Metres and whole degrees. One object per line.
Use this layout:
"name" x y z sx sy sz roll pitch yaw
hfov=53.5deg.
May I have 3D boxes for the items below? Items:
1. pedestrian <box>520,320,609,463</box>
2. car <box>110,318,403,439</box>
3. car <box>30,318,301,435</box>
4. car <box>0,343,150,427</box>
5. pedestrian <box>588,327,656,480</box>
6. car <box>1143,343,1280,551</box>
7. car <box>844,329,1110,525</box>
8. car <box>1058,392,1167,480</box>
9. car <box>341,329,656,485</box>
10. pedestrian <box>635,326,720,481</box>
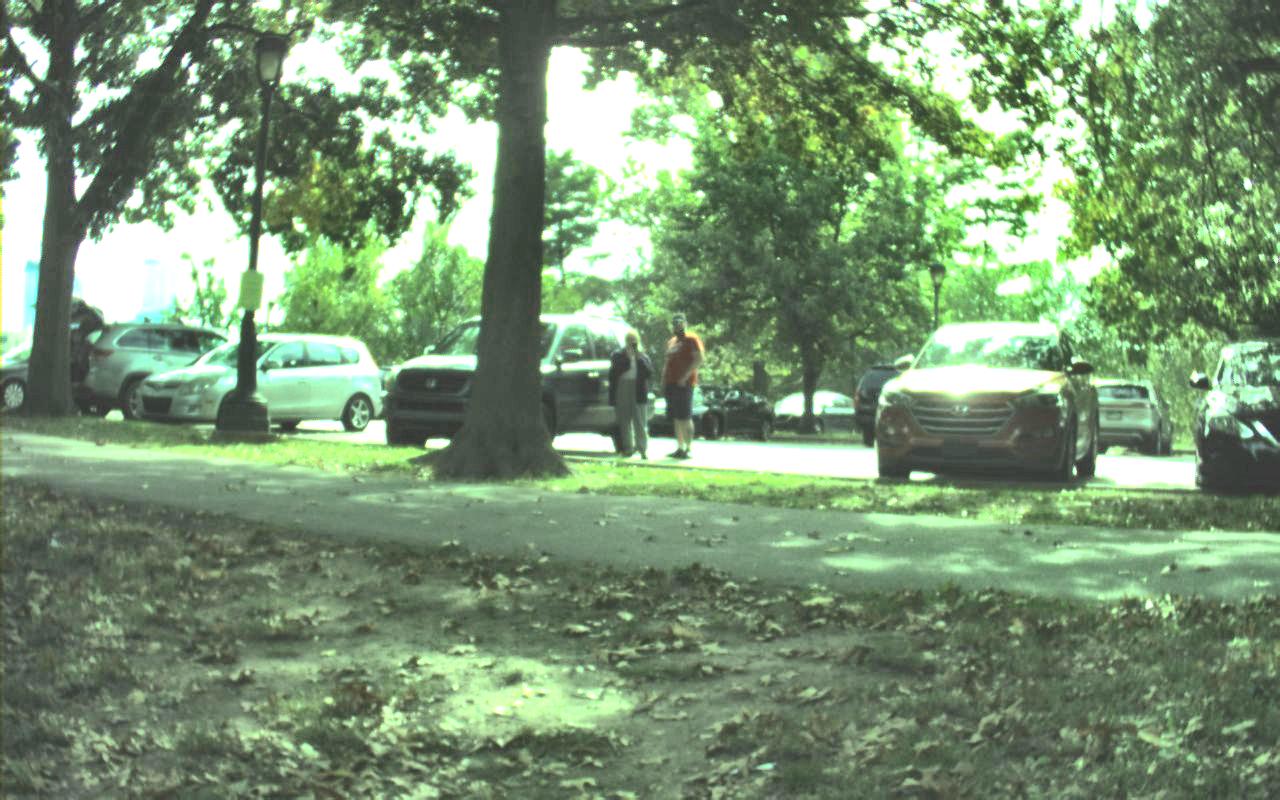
"pedestrian" -0.865 -0.111 14.655 0.794 1.604 0.763 1 0 18
"car" -5.849 -0.326 18.735 1.956 1.653 4.573 1 1 31
"car" -8.157 -0.374 20.300 1.978 1.822 4.559 1 1 40
"car" -12.338 -0.266 23.457 1.948 1.605 4.416 1 1 34
"pedestrian" -0.229 0.038 15.451 0.774 1.815 0.756 0 0 -5
"car" 6.061 0.350 10.644 1.944 1.593 4.465 1 1 34
"car" 3.651 0.182 12.510 1.964 1.633 4.492 1 1 26
"car" 10.391 0.739 26.052 1.968 1.688 4.486 1 1 28
"car" -1.577 0.019 15.545 1.958 1.620 4.449 1 1 23
"pedestrian" 0.467 0.033 15.799 0.766 1.869 0.759 1 0 31
